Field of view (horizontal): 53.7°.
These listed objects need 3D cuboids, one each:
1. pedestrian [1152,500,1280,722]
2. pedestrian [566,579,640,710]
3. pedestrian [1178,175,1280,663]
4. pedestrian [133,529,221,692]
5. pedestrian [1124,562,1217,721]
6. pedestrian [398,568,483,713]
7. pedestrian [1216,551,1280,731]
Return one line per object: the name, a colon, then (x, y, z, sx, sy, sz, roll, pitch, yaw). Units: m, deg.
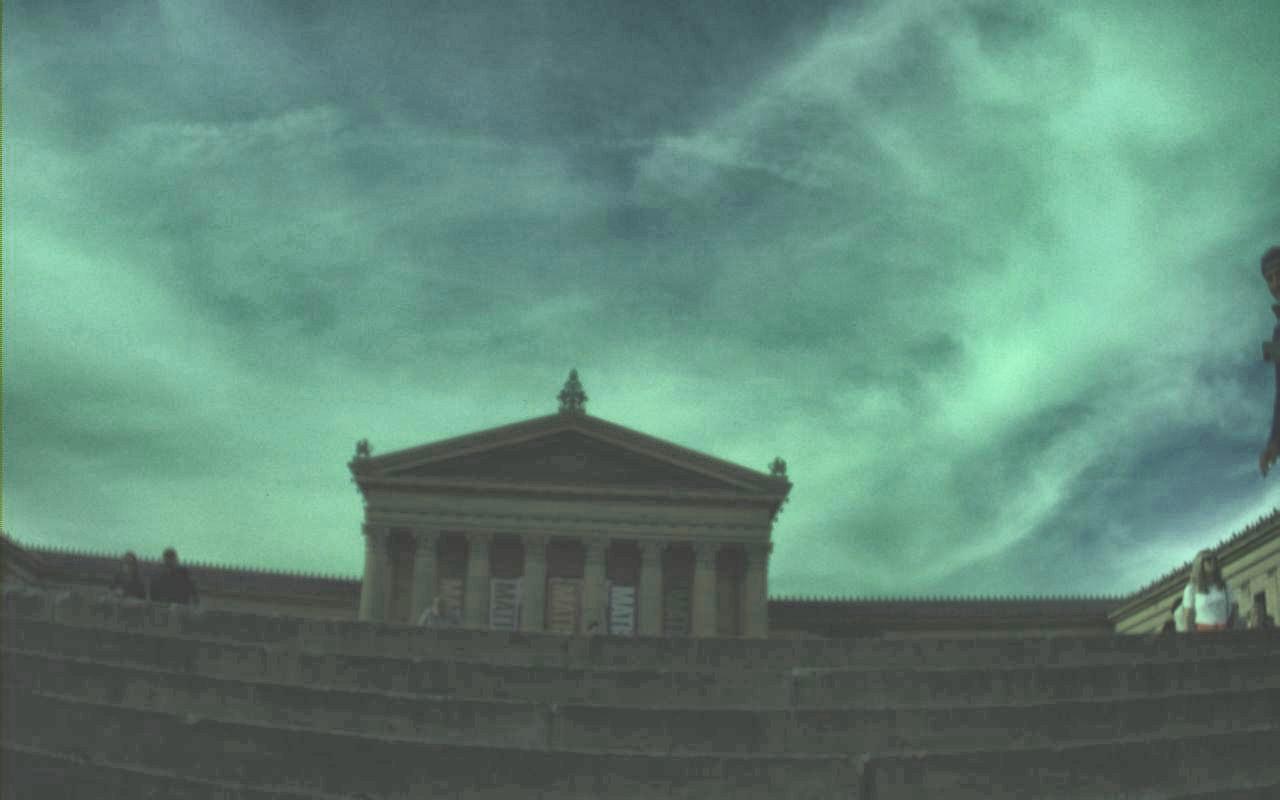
pedestrian: (4.965, 1.817, 9.714, 0.831, 1.776, 0.821, 0, 0, 0)
pedestrian: (-0.552, 3.613, 18.325, 0.794, 1.780, 0.756, 0, 0, -38)
pedestrian: (2.654, 0.083, 4.571, 0.739, 1.862, 0.721, 1, 0, 40)
pedestrian: (-5.393, 2.464, 13.561, 0.791, 1.775, 0.776, 0, 0, -3)
pedestrian: (6.242, 2.866, 13.499, 0.729, 1.737, 0.761, 0, 0, -10)
pedestrian: (-2.725, 3.284, 16.766, 0.855, 1.813, 0.883, 1, 0, 14)
pedestrian: (6.304, 2.446, 11.075, 0.788, 1.675, 0.807, 0, 0, 8)
